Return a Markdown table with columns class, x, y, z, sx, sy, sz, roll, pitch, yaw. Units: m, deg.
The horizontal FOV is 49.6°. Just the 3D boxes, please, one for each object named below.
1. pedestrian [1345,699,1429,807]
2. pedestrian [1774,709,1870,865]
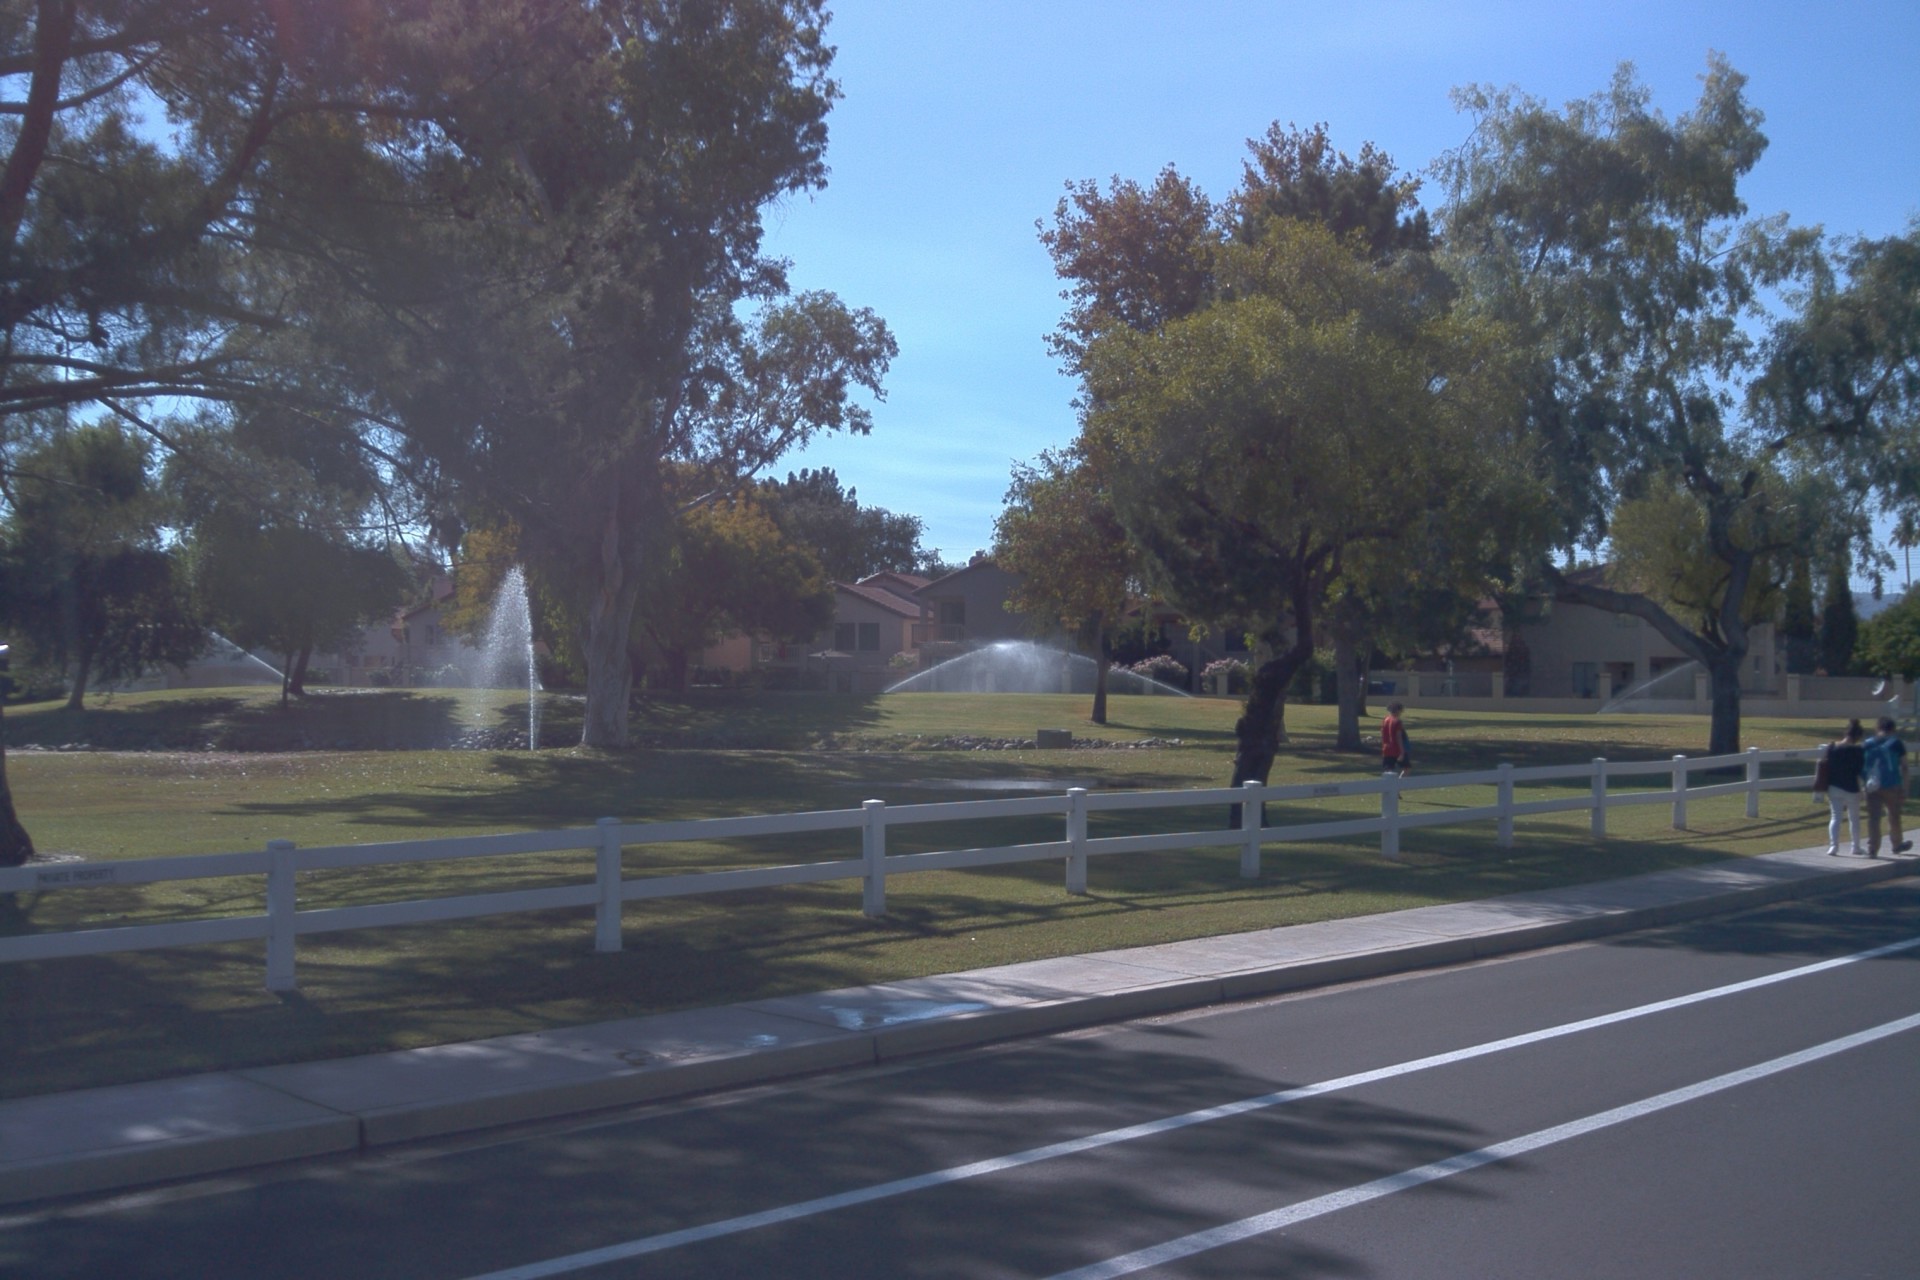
| class | x | y | z | sx | sy | sz | roll | pitch | yaw |
| --- | --- | --- | --- | --- | --- | --- | --- | --- | --- |
| pedestrian | 7.129 | 1.868 | 34.677 | 0.902 | 1.734 | 0.995 | 1 | -1 | -36 |
| pedestrian | 9.913 | 1.664 | 23.883 | 0.725 | 1.710 | 1.012 | 0 | -1 | 40 |
